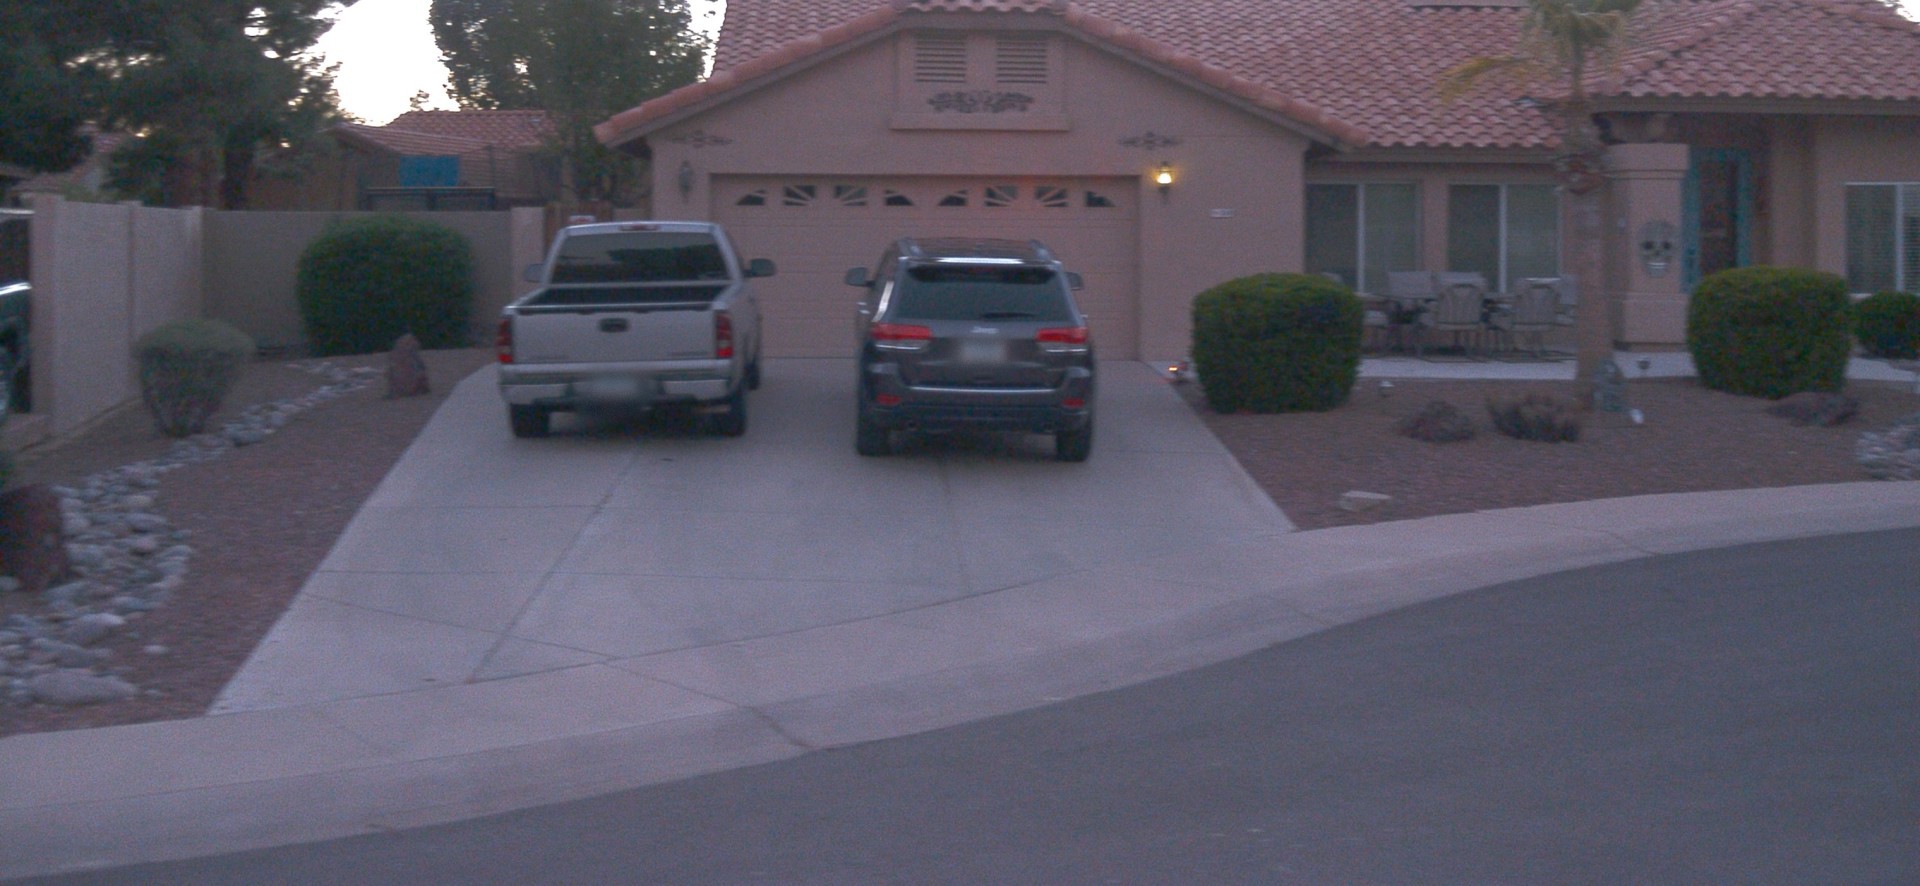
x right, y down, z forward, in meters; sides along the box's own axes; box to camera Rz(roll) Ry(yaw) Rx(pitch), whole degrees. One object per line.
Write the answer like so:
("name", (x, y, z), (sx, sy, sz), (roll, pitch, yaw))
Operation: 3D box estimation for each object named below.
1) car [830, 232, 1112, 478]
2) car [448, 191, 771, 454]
("car", (-0.059, -0.925, 18.455), (2.168, 1.851, 4.836), (0, 5, -4))
("car", (-3.045, -1.246, 19.223), (2.402, 2.091, 5.218), (0, 5, -3))
